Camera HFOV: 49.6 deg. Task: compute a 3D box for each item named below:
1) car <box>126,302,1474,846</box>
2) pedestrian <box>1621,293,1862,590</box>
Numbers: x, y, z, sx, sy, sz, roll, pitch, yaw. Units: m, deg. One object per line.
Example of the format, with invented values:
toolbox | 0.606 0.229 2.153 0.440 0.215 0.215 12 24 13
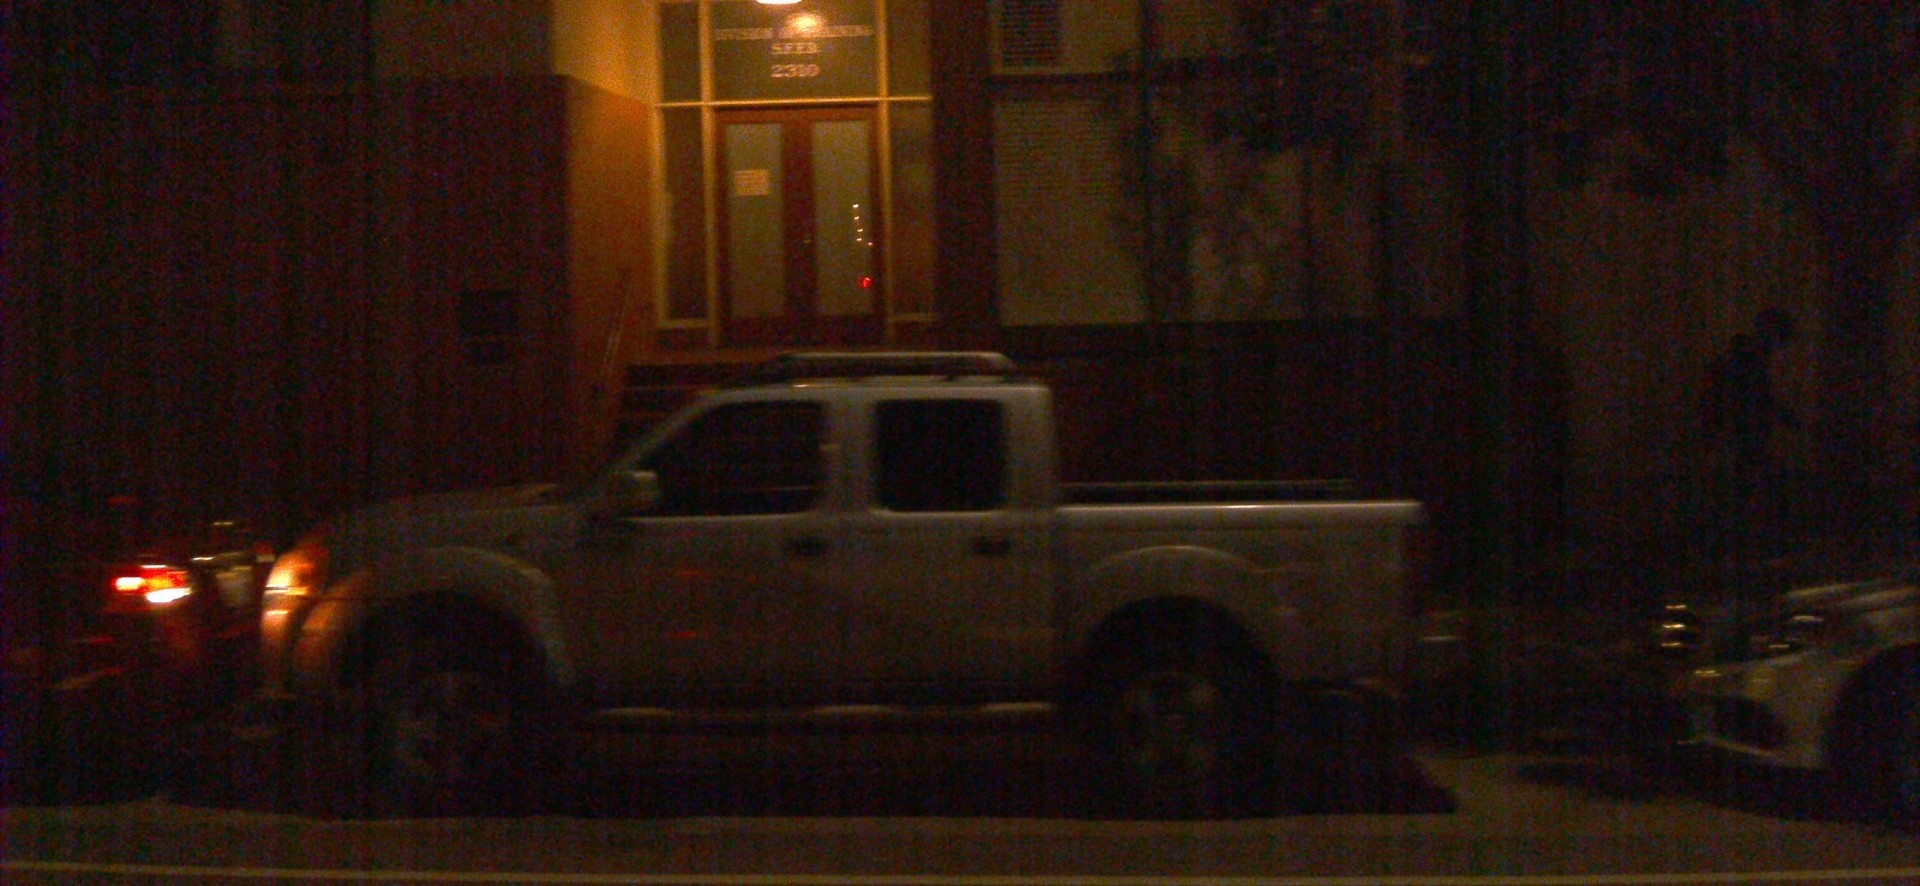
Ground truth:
car | -0.594 0.421 8.874 5.088 1.956 2.069 0 3 1
pedestrian | 4.817 -0.047 12.884 1.088 1.728 0.992 0 2 -3
